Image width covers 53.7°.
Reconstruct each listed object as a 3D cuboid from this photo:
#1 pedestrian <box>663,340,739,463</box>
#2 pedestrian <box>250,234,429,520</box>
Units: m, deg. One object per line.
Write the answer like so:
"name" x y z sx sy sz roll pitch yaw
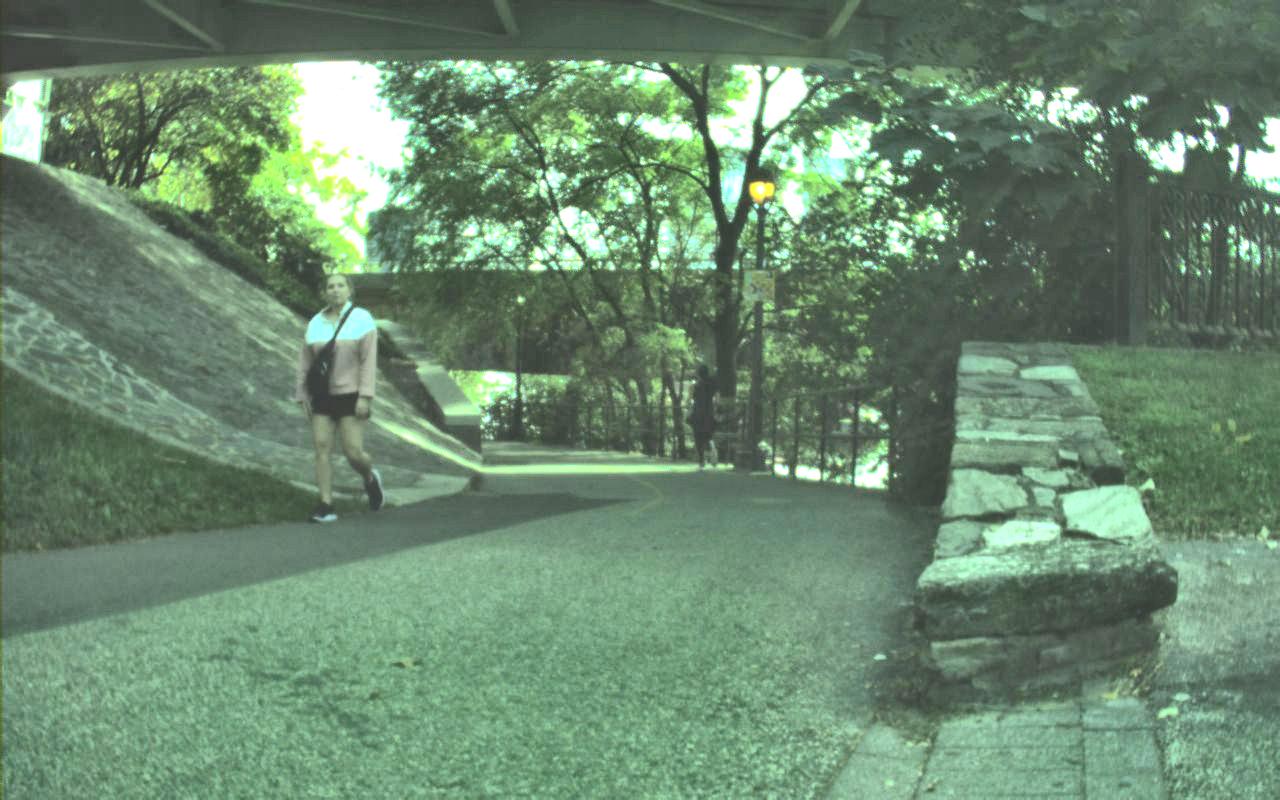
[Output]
"pedestrian" 0.883 0.012 18.509 0.845 1.739 0.883 0 0 -17
"pedestrian" -1.895 -0.144 7.756 0.824 1.679 0.869 1 0 16
